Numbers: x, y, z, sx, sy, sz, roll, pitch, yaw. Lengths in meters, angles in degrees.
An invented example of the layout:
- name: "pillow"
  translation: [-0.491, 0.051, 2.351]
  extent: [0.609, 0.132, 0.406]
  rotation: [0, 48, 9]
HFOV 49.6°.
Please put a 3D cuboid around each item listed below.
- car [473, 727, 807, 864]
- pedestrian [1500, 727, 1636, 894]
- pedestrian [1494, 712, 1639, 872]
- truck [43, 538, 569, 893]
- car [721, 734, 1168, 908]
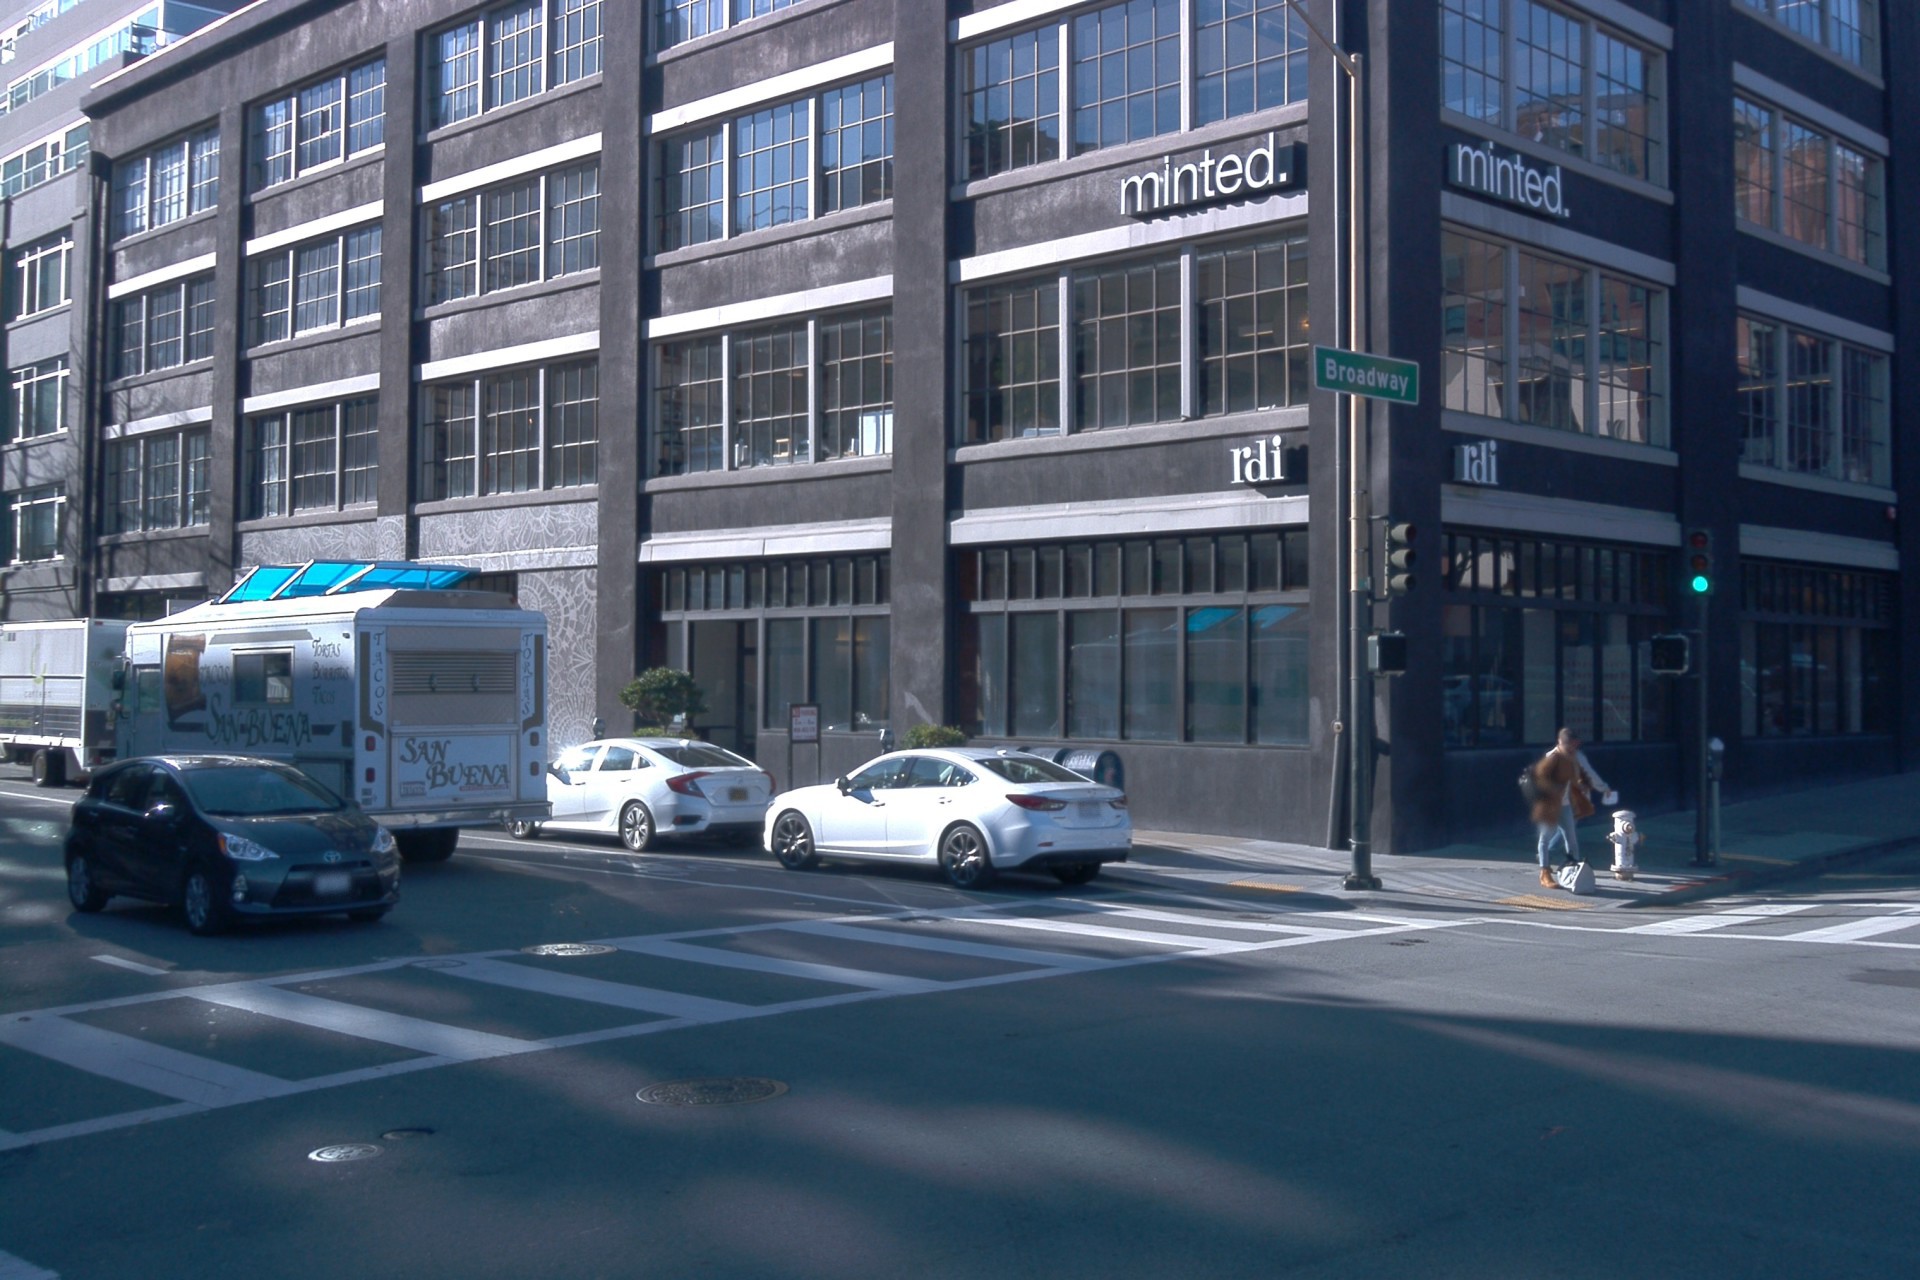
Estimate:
- name: "car"
  translation: [-4.259, 1.958, 27.206]
  extent: [2.159, 1.470, 4.409]
  rotation: [2, -1, -44]
- name: "pedestrian"
  translation: [6.446, 1.788, 22.057]
  extent: [0.985, 1.680, 1.012]
  rotation: [1, -1, -19]
- name: "pedestrian"
  translation: [6.791, 1.673, 23.261]
  extent: [1.254, 1.690, 1.039]
  rotation: [2, -1, -41]
- name: "truck"
  translation: [-7.992, 0.785, 24.775]
  extent: [2.965, 3.621, 7.191]
  rotation: [2, -1, -45]
- name: "car"
  translation: [-0.271, 1.894, 22.919]
  extent: [2.162, 1.510, 4.830]
  rotation: [2, -1, -45]
